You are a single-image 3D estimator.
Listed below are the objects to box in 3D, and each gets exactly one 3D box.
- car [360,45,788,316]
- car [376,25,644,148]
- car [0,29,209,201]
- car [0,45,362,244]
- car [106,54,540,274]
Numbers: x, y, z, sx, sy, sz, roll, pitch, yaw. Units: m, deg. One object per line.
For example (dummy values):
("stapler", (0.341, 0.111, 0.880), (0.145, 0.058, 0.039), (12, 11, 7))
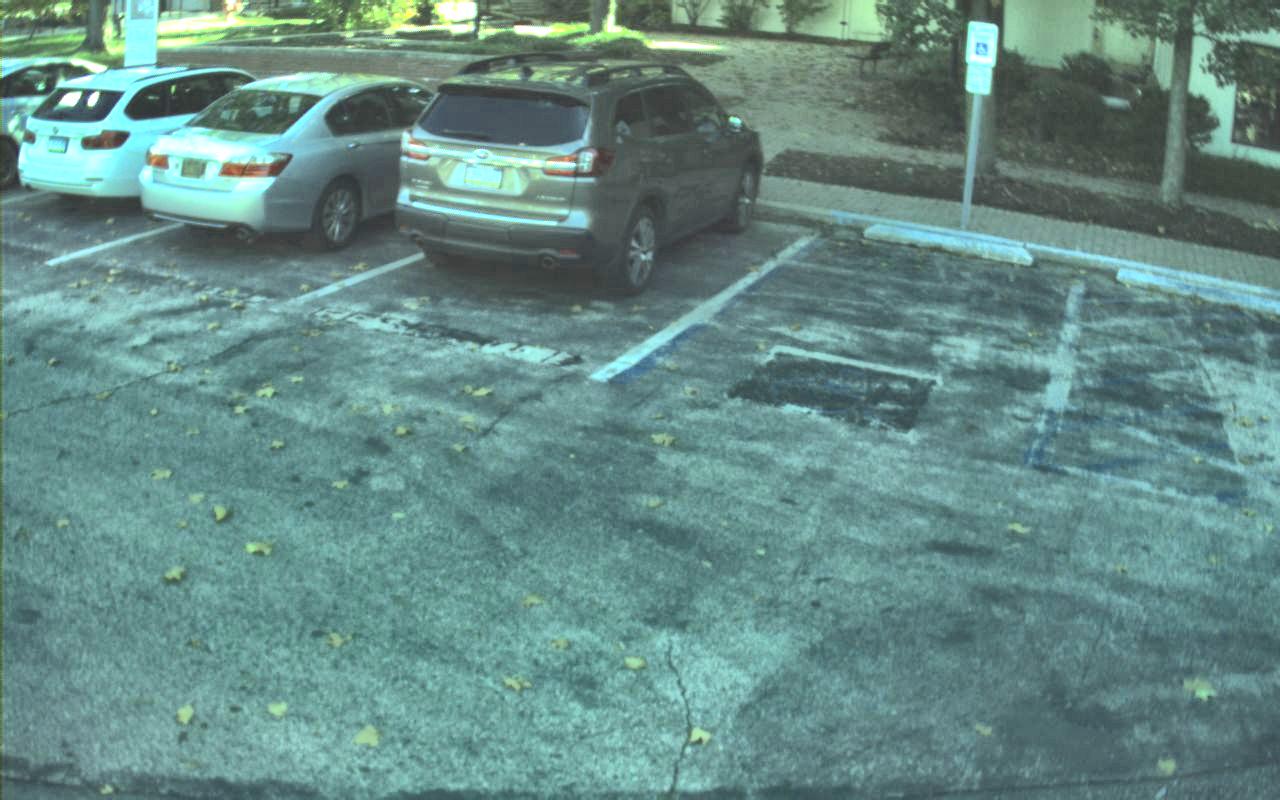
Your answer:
("car", (-0.278, -2.220, 11.124), (2.041, 1.813, 4.845), (5, 18, 20))
("car", (-1.810, -4.799, 18.531), (1.999, 1.592, 4.581), (6, 18, 24))
("car", (-7.663, -3.643, 14.086), (1.946, 1.611, 4.475), (7, 18, 26))
("car", (-5.176, -2.956, 13.086), (1.933, 1.647, 4.447), (6, 18, 23))
("car", (-2.901, -2.441, 11.764), (1.910, 1.546, 4.483), (6, 18, 24))
